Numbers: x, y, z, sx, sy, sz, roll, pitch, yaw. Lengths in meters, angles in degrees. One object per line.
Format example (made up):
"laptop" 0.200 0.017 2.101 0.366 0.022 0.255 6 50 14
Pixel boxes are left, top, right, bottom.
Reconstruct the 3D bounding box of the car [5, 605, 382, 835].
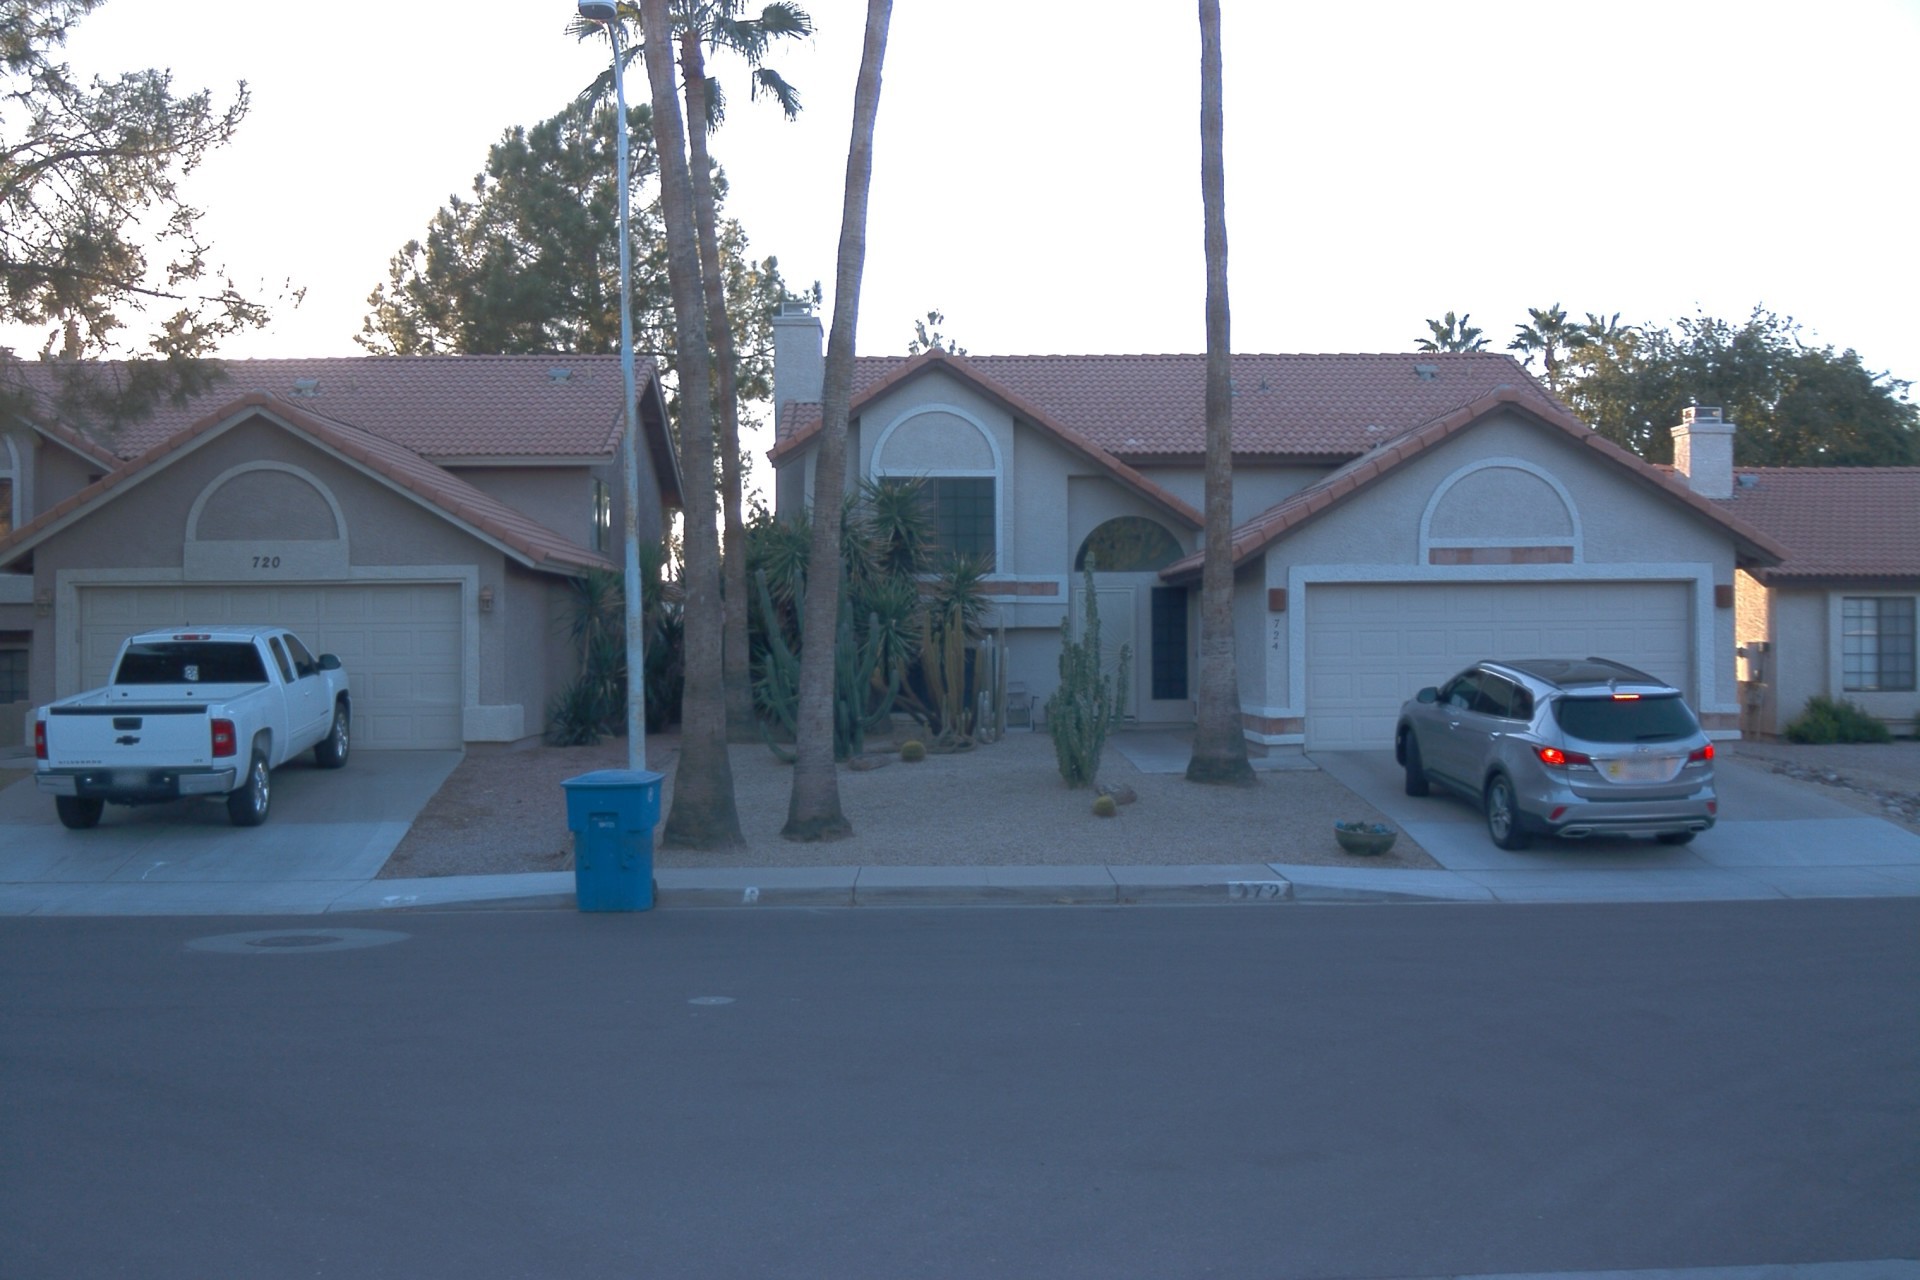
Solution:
"car" -8.137 0.820 22.781 2.325 2.200 5.595 0 -1 -3

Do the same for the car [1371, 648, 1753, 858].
"car" 5.912 1.065 21.151 2.108 1.880 4.731 0 -1 -6
